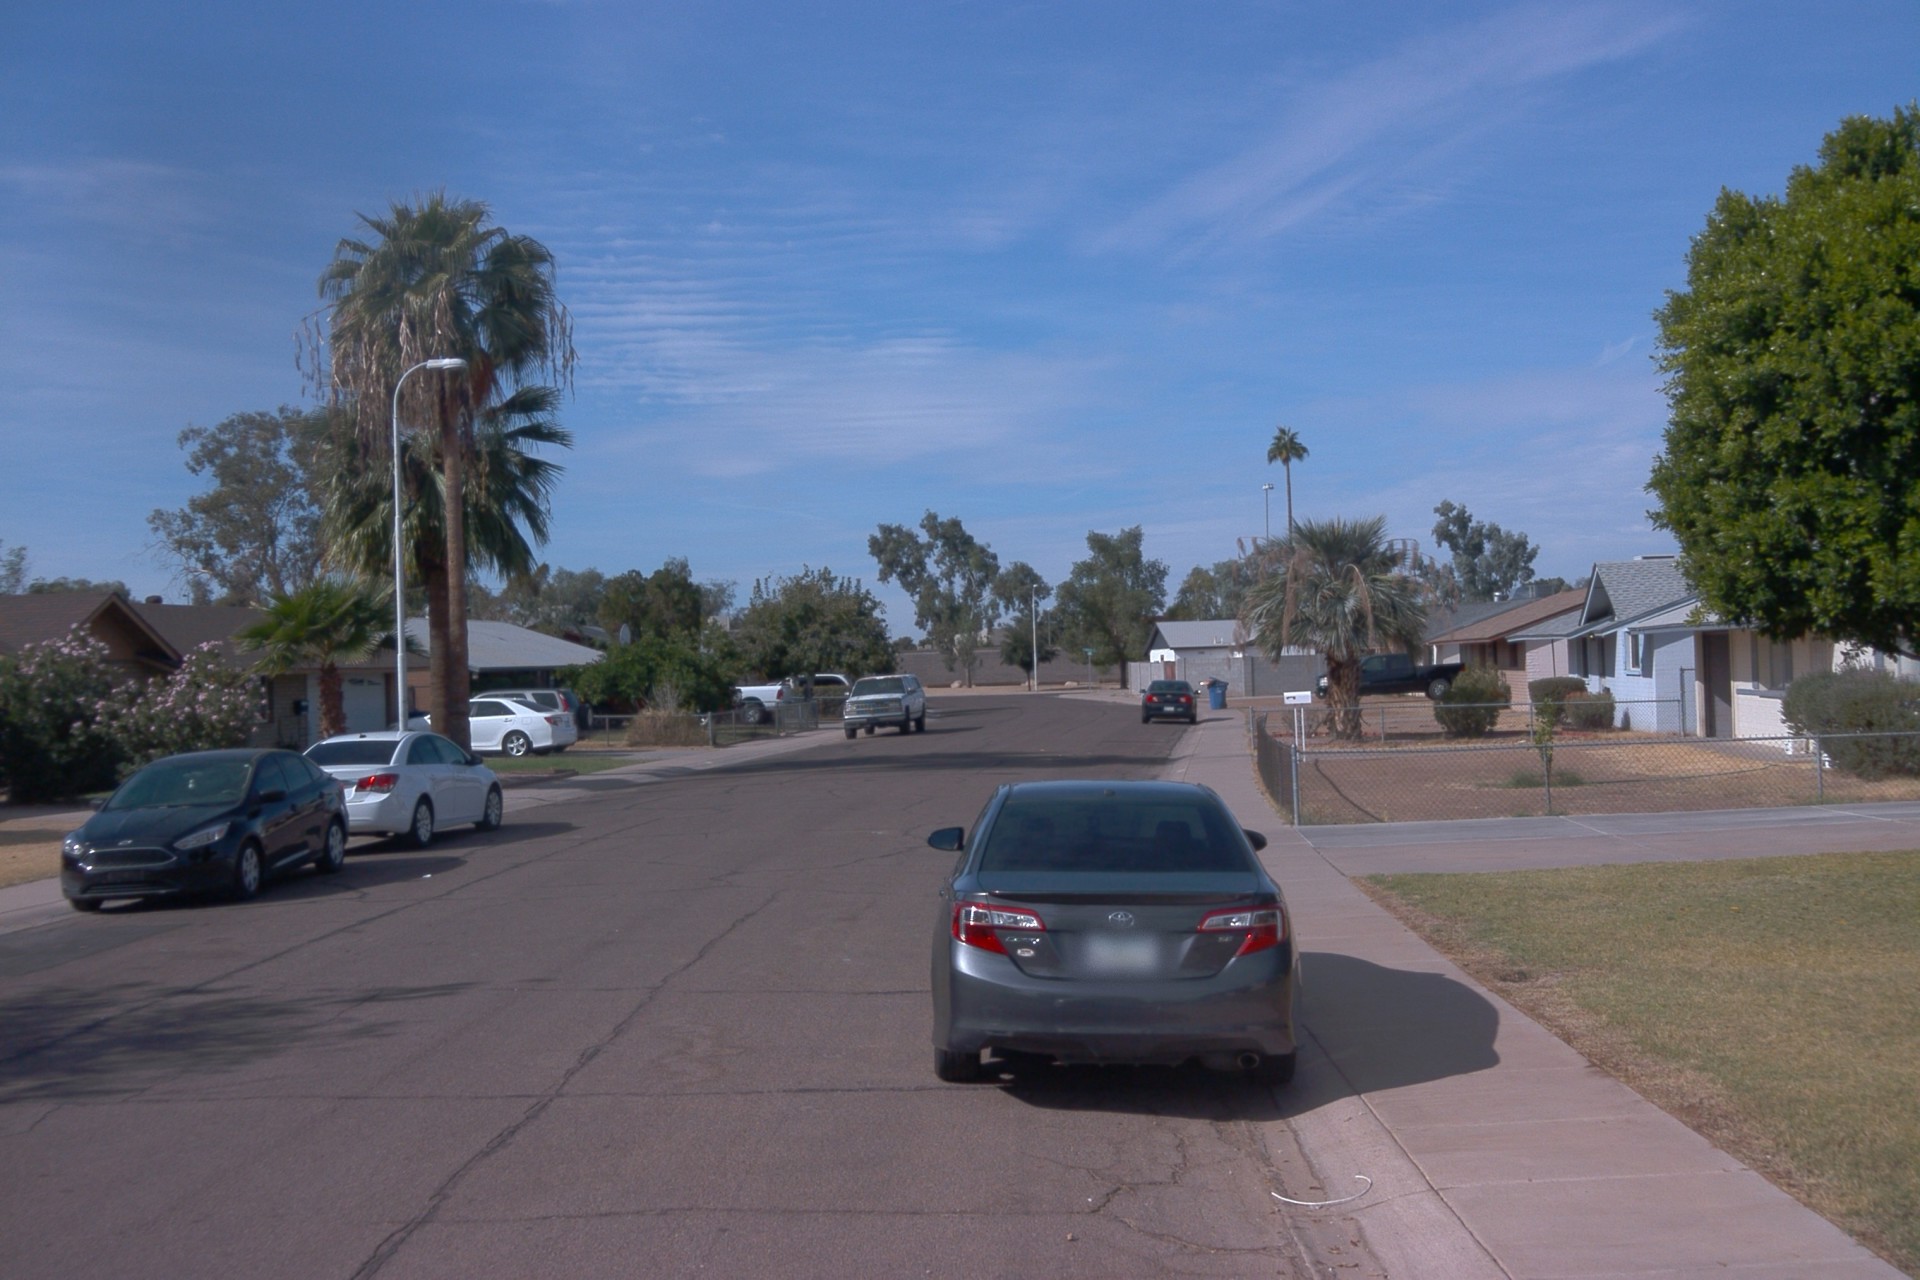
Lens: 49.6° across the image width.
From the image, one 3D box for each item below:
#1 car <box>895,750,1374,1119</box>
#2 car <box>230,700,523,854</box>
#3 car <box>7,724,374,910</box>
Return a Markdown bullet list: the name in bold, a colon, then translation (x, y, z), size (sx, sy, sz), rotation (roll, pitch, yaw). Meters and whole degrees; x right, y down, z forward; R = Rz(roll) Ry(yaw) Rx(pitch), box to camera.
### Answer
- **car**: translation (0.807, 1.458, 11.862), size (2.150, 1.470, 5.012), rotation (0, -1, 1)
- **car**: translation (-7.479, 1.700, 27.167), size (2.079, 1.770, 4.631), rotation (0, -1, 7)
- **car**: translation (-7.786, 1.735, 21.564), size (2.055, 1.610, 4.523), rotation (0, -1, 1)
